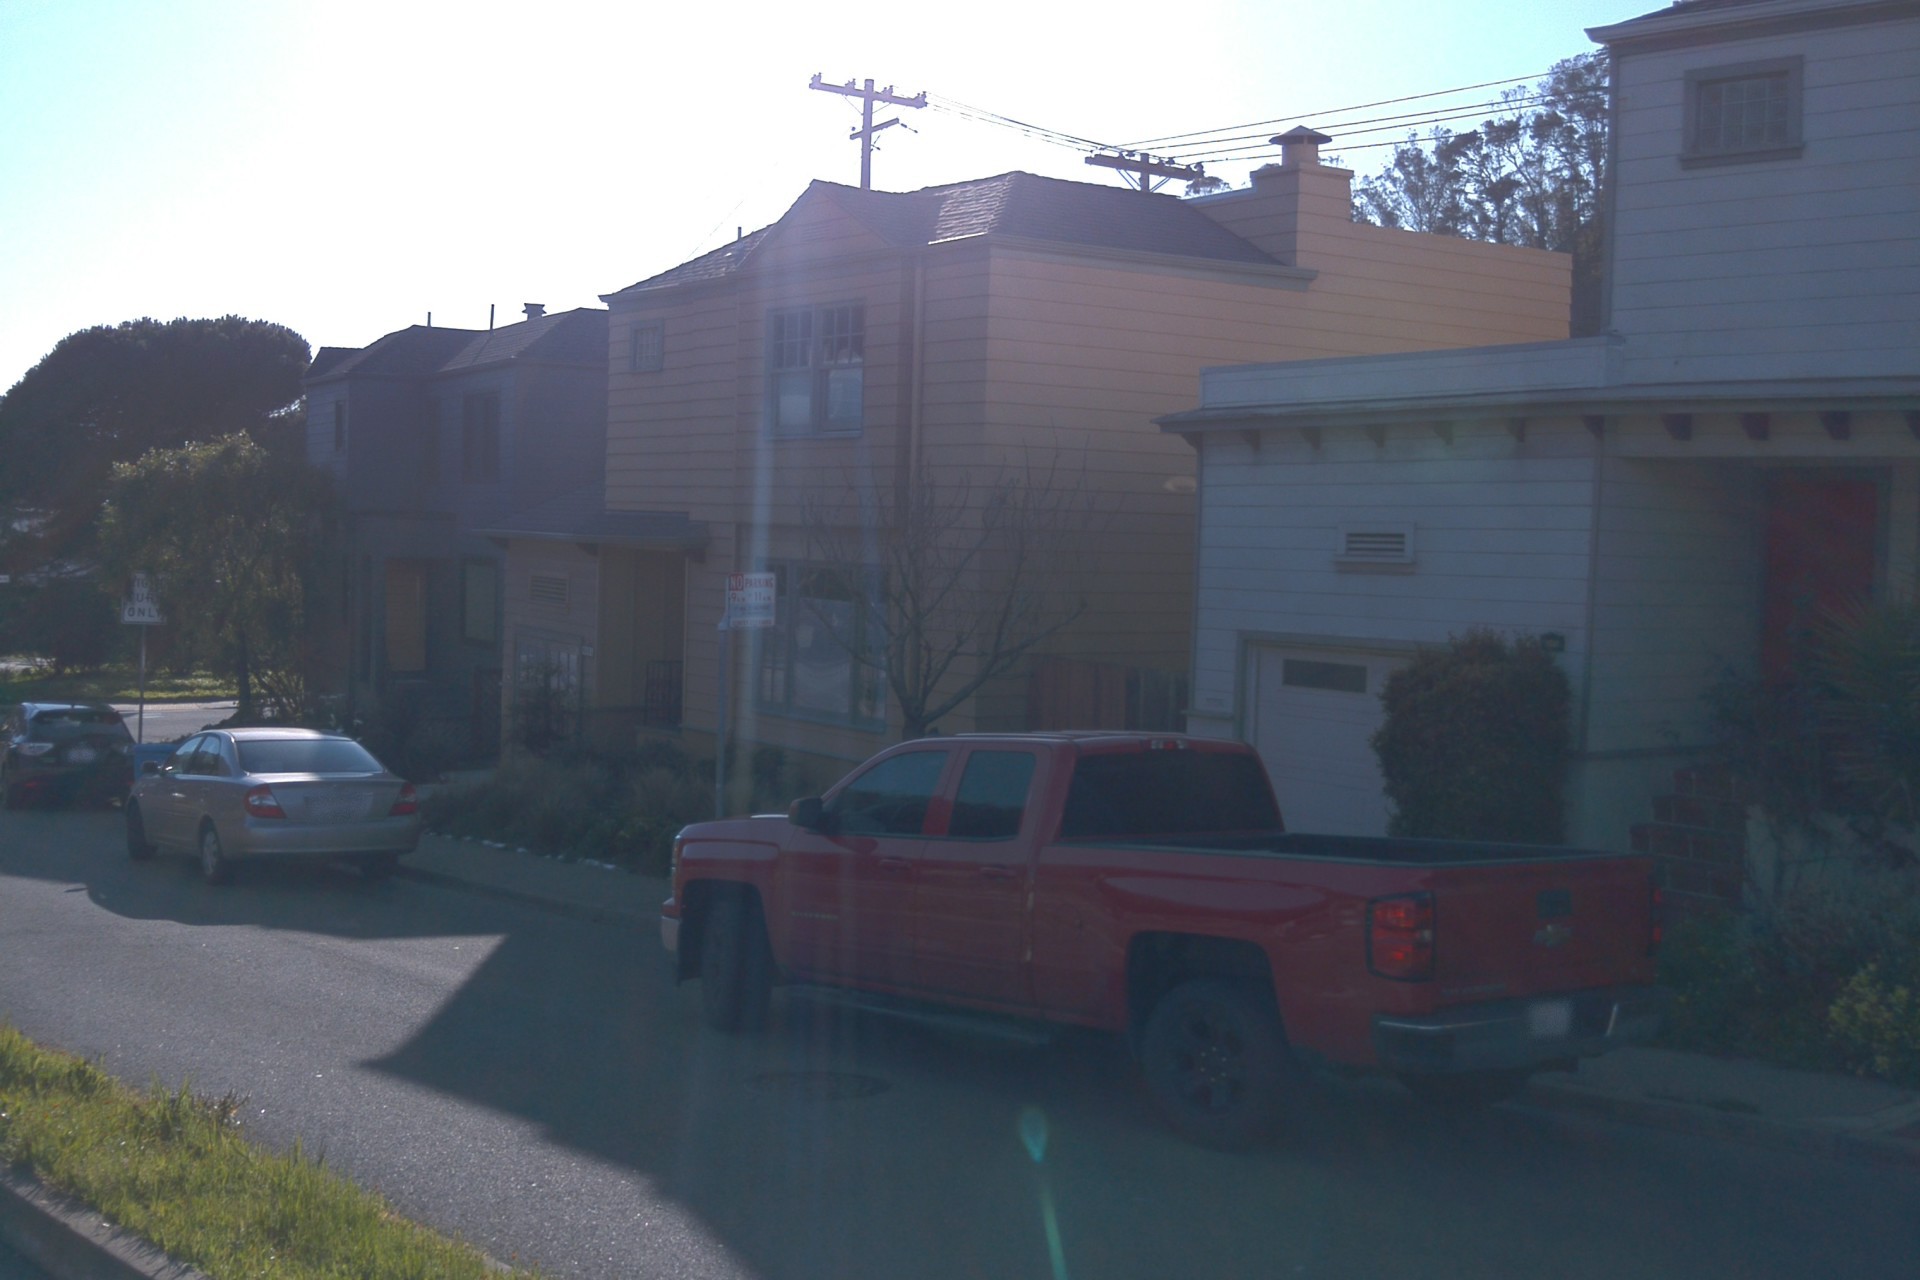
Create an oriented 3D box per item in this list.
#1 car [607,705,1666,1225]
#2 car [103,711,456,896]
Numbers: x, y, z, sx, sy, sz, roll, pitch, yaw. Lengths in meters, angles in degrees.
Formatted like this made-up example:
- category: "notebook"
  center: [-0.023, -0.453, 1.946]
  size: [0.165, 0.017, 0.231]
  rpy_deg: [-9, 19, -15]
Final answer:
- category: "car"
  center: [0.621, 1.435, 11.656]
  size: [2.405, 1.970, 5.836]
  rpy_deg: [1, 0, -41]
- category: "car"
  center: [-7.053, 1.557, 21.358]
  size: [2.053, 1.500, 4.824]
  rpy_deg: [1, 0, -35]
